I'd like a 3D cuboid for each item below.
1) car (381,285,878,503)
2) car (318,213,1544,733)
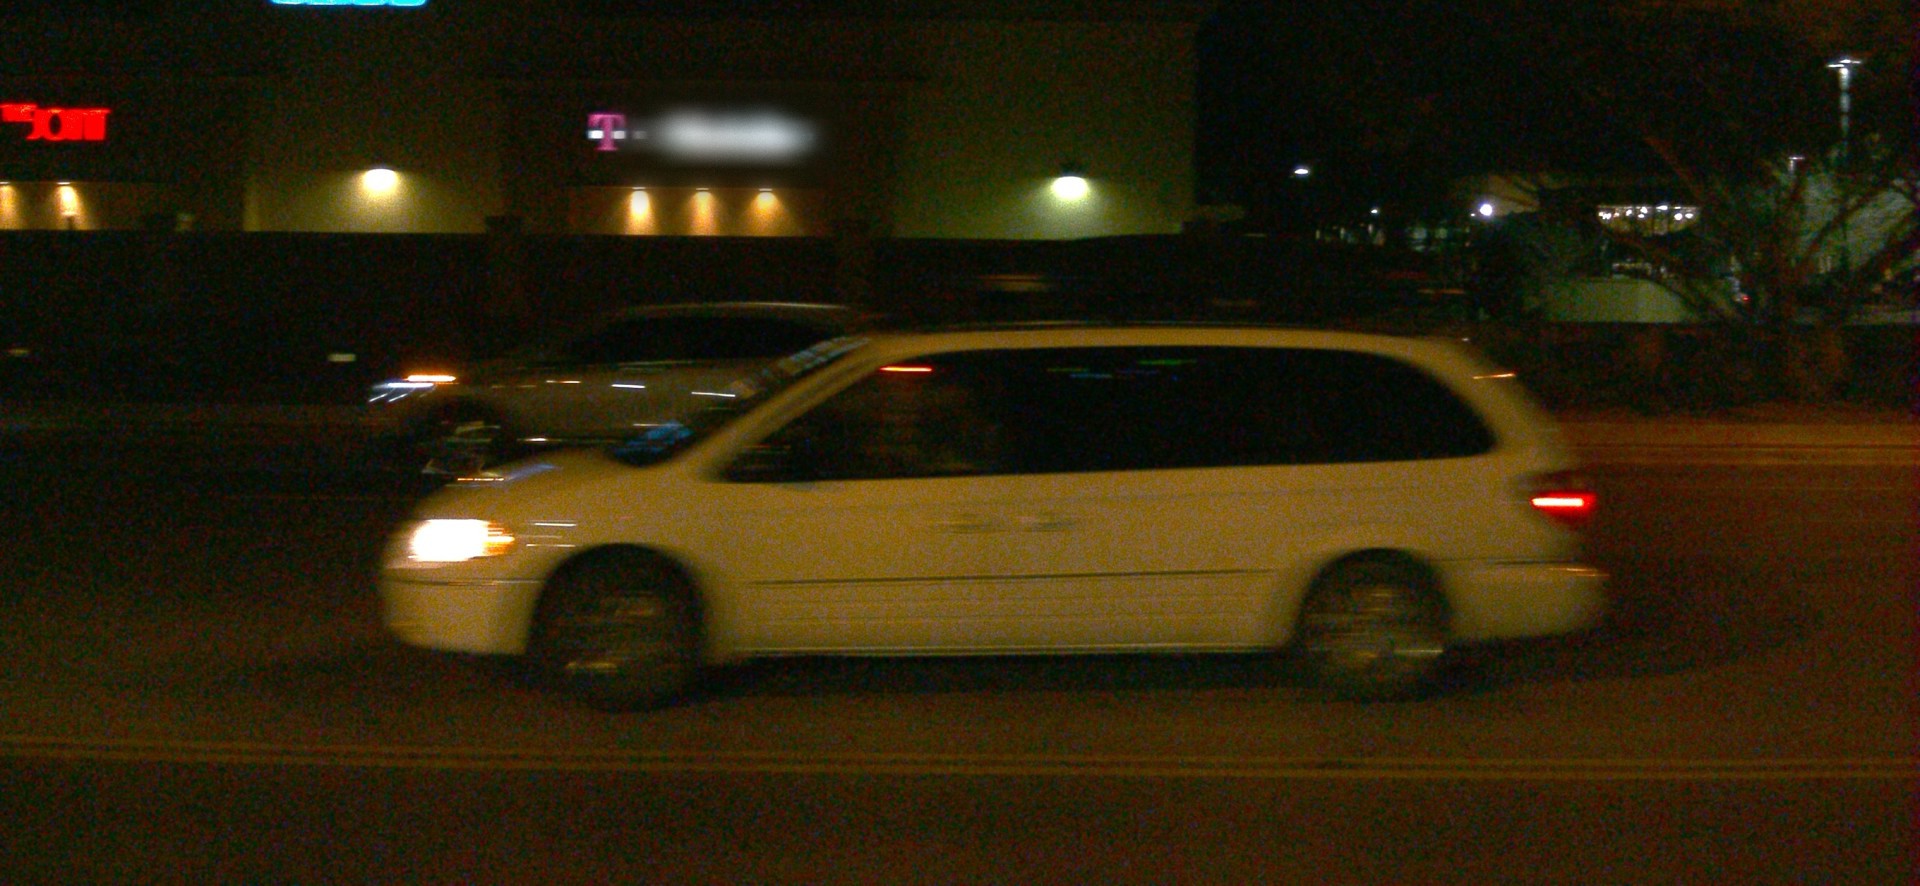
[{"bbox_3d":[-2.916,-0.501,19.048,4.183,1.775,1.988,1,4,1],"label":"car"},{"bbox_3d":[-0.158,-0.009,9.990,5.219,2.124,2.321,0,4,-7],"label":"car"}]
